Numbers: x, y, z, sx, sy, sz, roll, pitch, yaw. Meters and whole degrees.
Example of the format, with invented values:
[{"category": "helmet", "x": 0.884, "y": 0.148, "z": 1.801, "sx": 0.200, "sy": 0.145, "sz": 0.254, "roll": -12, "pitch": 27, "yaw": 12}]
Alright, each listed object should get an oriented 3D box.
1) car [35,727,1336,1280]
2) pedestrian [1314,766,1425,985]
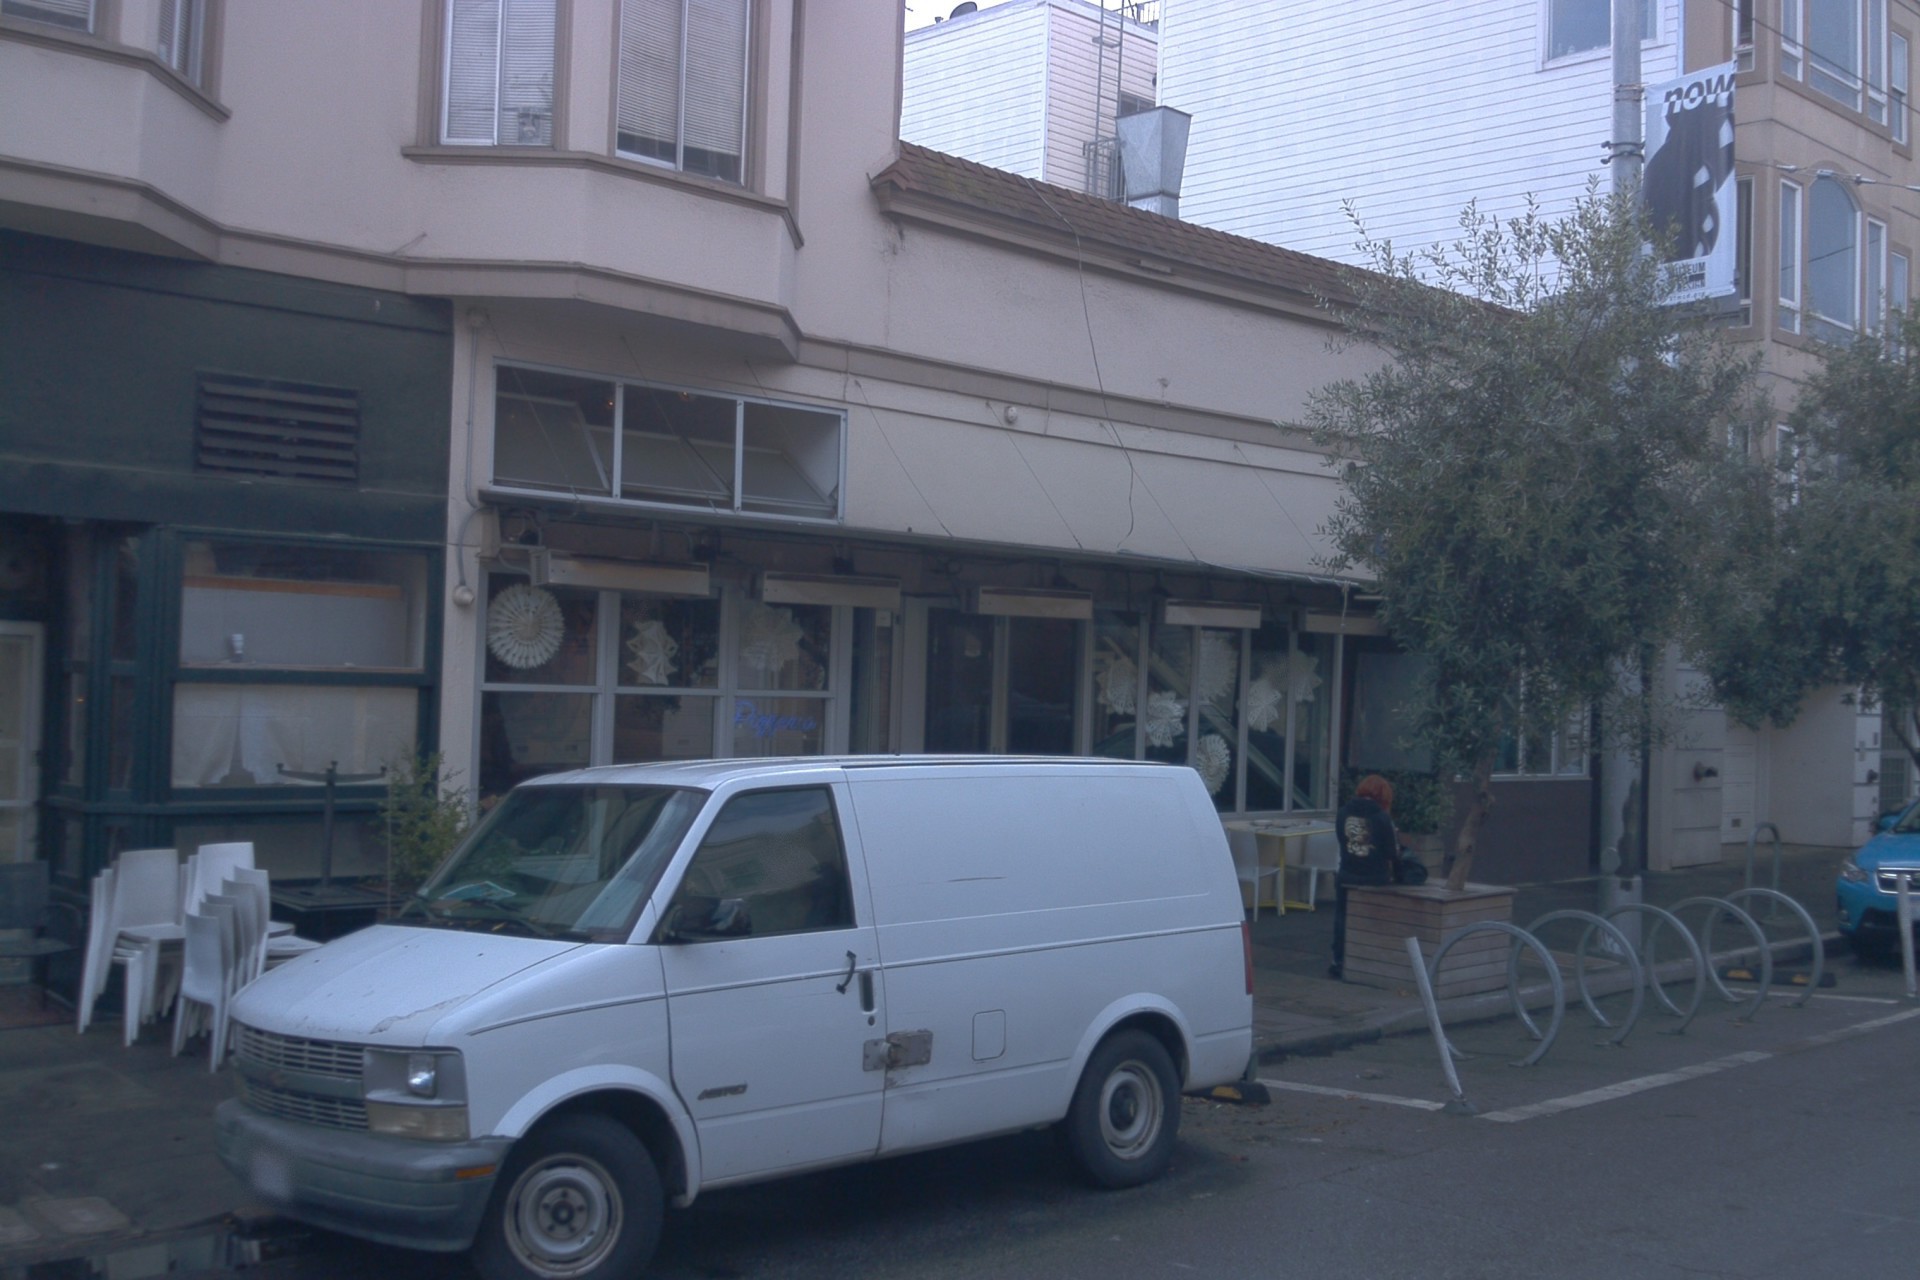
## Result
[{"category": "car", "x": -0.855, "y": 1.345, "z": 8.514, "sx": 4.826, "sy": 1.860, "sz": 2.315, "roll": 2, "pitch": -1, "yaw": -44}, {"category": "pedestrian", "x": 2.891, "y": 1.638, "z": 14.625, "sx": 0.616, "sy": 1.450, "sz": 0.623, "roll": 1, "pitch": -1, "yaw": 24}]
